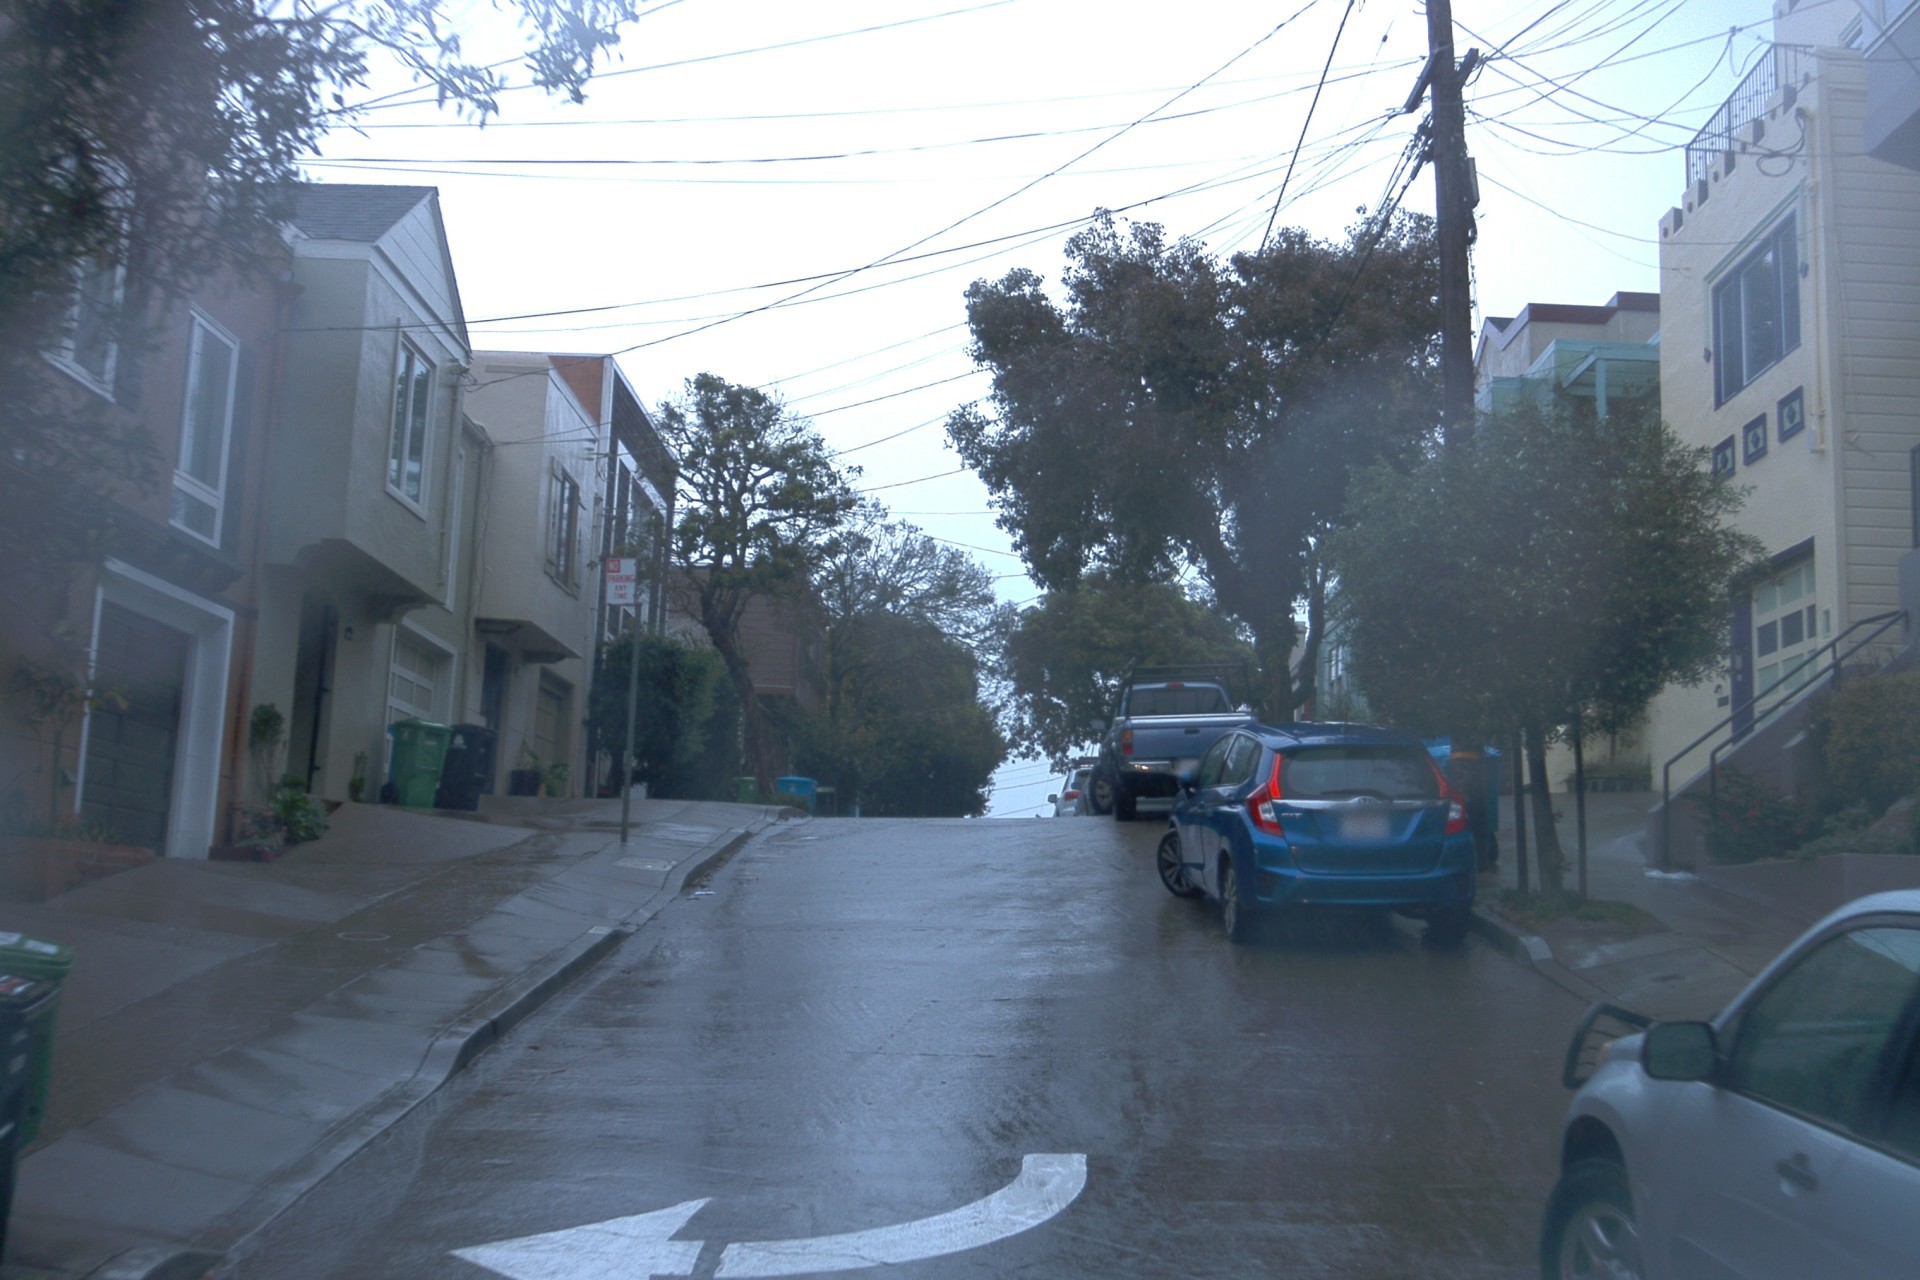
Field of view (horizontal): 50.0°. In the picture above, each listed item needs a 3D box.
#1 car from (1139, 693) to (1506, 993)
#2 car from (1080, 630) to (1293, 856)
[{"bbox_3d":[2.600,1.413,15.816,1.835,1.830,4.181,1,0,-3],"label":"car"},{"bbox_3d":[2.732,1.152,26.121,2.116,2.510,5.436,1,0,1],"label":"car"}]
